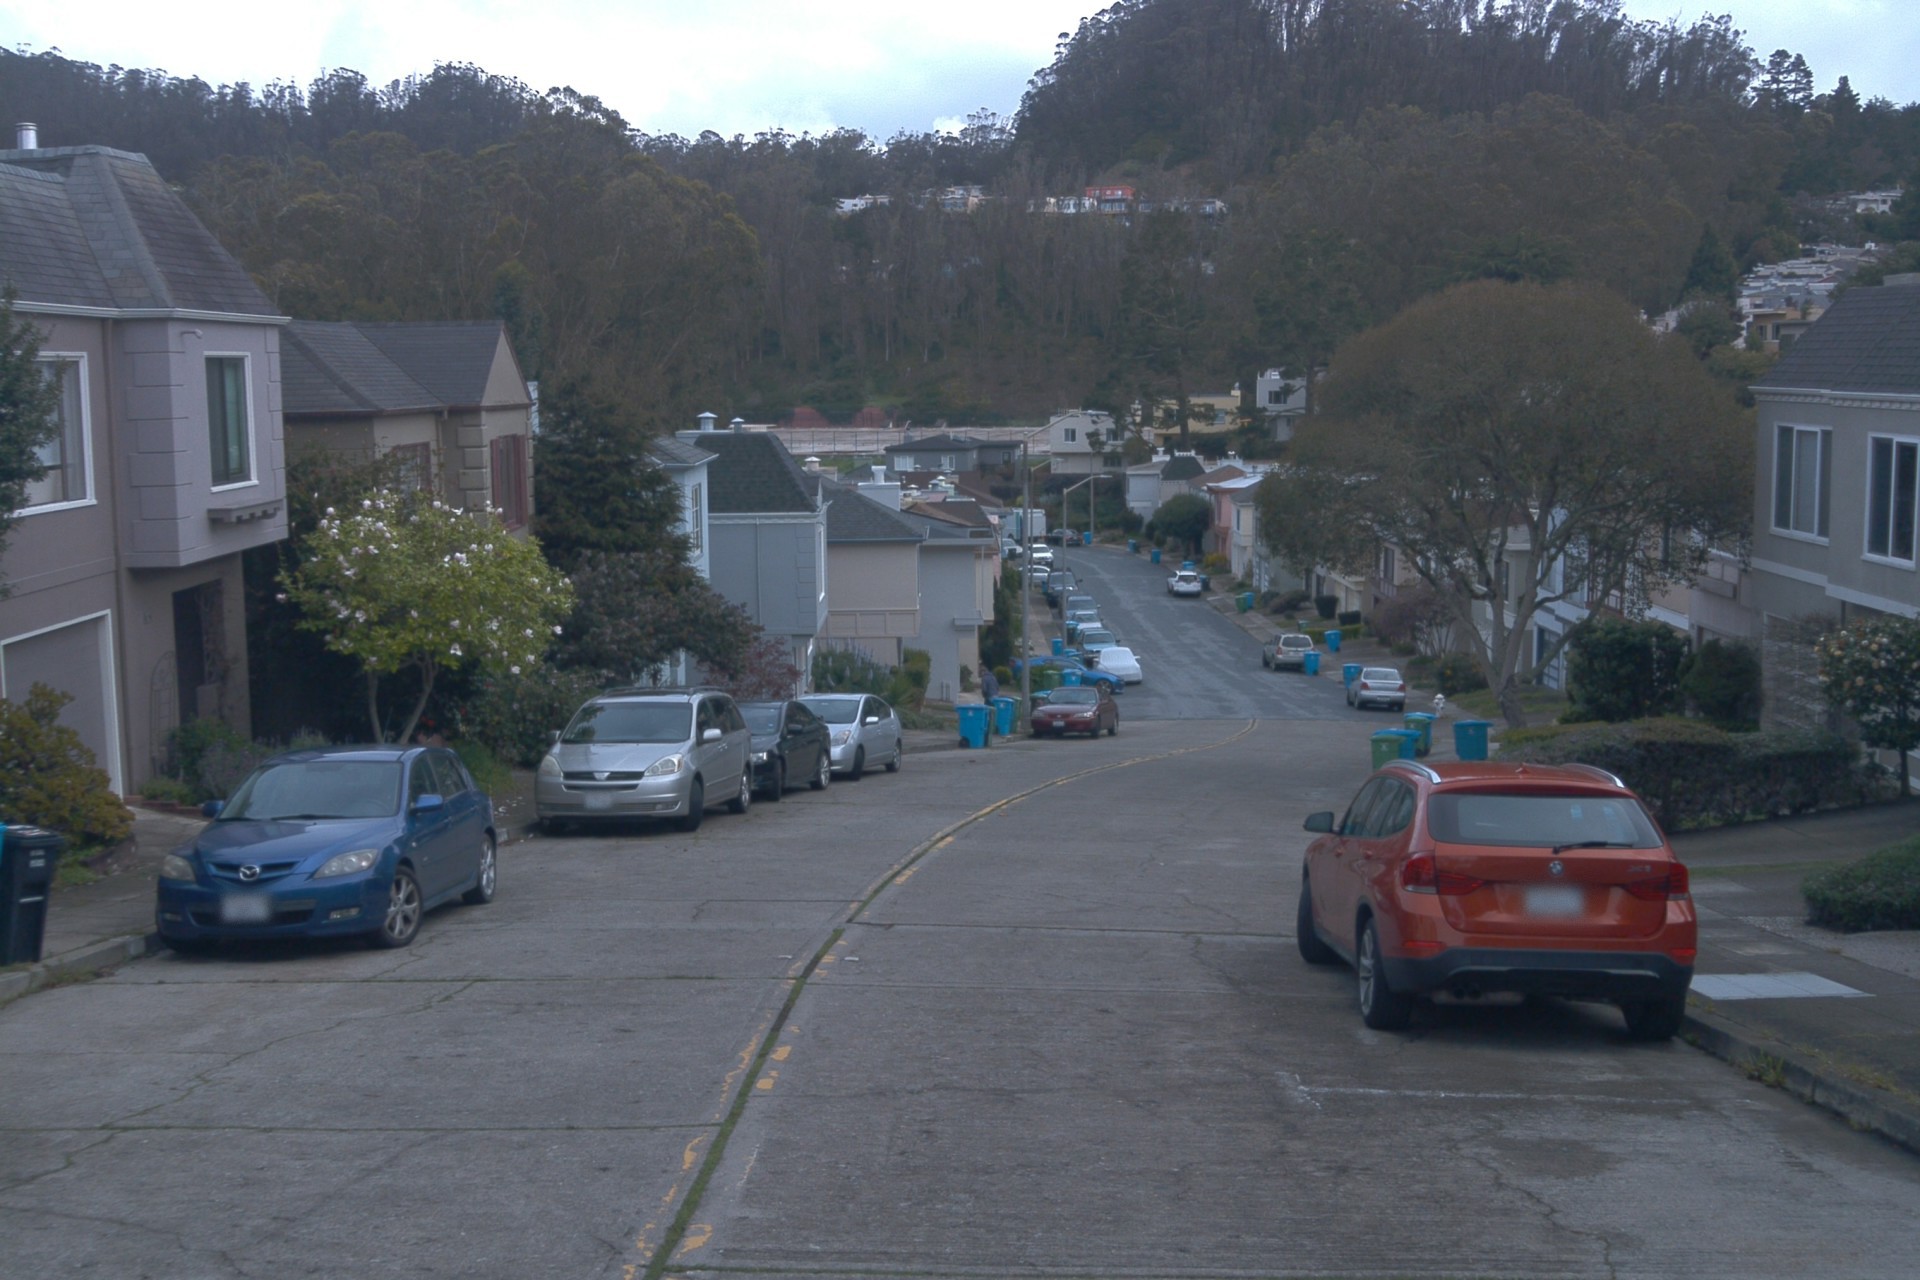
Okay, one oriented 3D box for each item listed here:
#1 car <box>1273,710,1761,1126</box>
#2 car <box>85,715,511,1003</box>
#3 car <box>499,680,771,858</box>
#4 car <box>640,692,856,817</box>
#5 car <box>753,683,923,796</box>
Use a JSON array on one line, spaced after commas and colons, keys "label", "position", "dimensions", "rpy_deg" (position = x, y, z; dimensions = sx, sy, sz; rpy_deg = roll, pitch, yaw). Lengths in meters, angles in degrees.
[{"label": "car", "position": [3.315, 1.556, 13.398], "dimensions": [2.110, 2.060, 4.756], "rpy_deg": [0, 0, 3]}, {"label": "car", "position": [-5.046, 1.592, 16.500], "dimensions": [2.024, 1.850, 4.438], "rpy_deg": [0, 0, -1]}, {"label": "car", "position": [-4.034, 1.556, 26.727], "dimensions": [2.346, 1.990, 5.080], "rpy_deg": [0, 0, 5]}, {"label": "car", "position": [-3.167, 1.686, 31.945], "dimensions": [2.087, 1.682, 4.573], "rpy_deg": [0, 0, 11]}, {"label": "car", "position": [-2.088, 1.709, 36.822], "dimensions": [1.905, 1.800, 4.460], "rpy_deg": [0, 0, 12]}]
